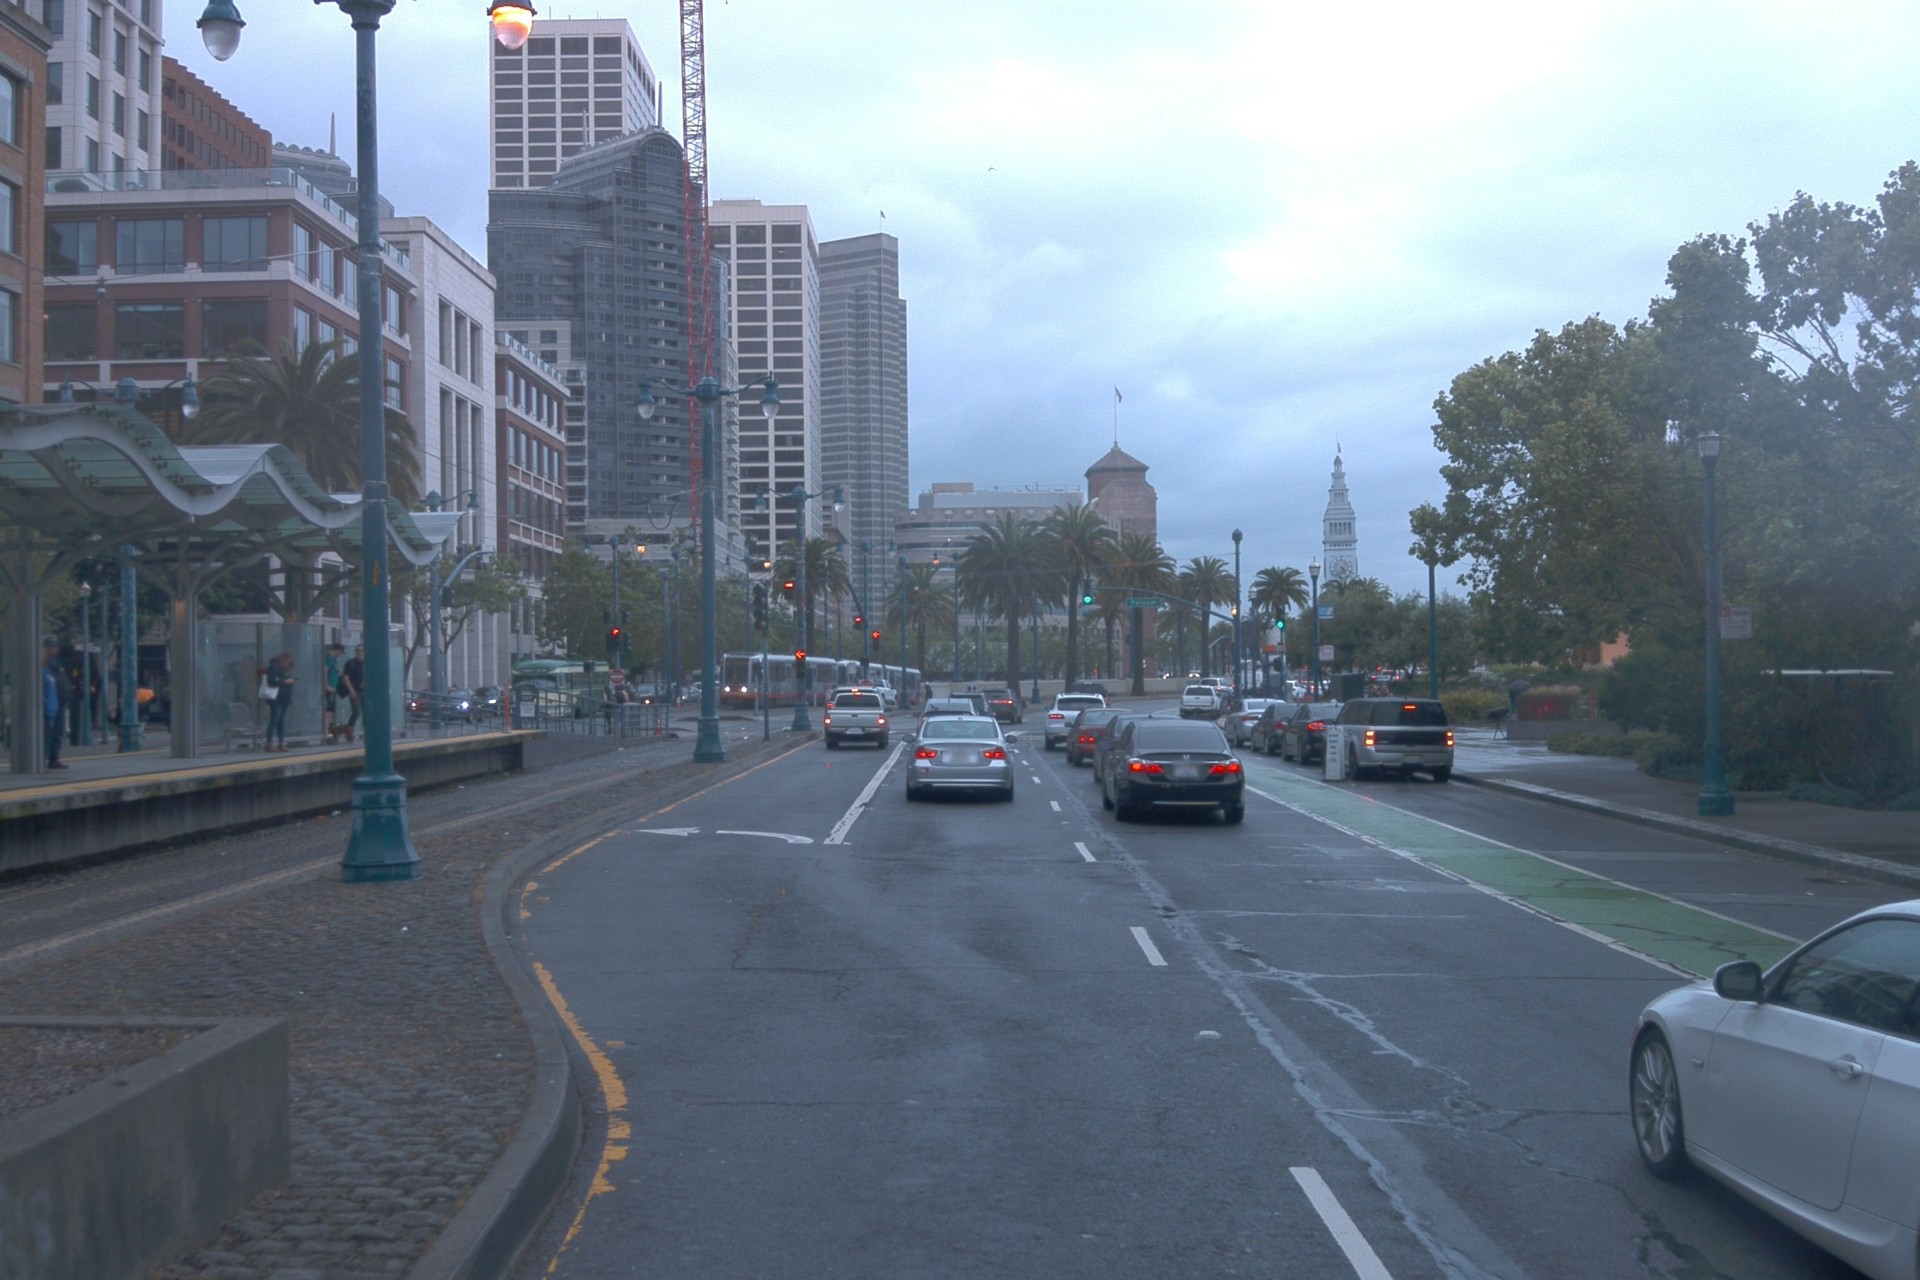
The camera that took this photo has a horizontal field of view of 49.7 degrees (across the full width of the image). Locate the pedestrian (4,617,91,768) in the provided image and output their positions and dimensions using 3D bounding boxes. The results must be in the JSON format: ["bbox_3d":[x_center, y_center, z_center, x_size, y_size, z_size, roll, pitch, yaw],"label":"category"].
[{"bbox_3d":[-11.861,0.673,26.958,0.703,1.930,0.777,0,-1,14],"label":"pedestrian"}]

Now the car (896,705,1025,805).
[{"bbox_3d":[0.014,1.918,35.593,2.067,1.510,4.625,0,-1,0],"label":"car"}]

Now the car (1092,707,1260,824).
[{"bbox_3d":[3.141,1.812,31.065,2.069,1.540,4.627,0,-1,0],"label":"car"}]

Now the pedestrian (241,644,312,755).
[{"bbox_3d":[-11.037,0.952,33.513,0.871,1.770,0.835,0,-1,0],"label":"pedestrian"}]
